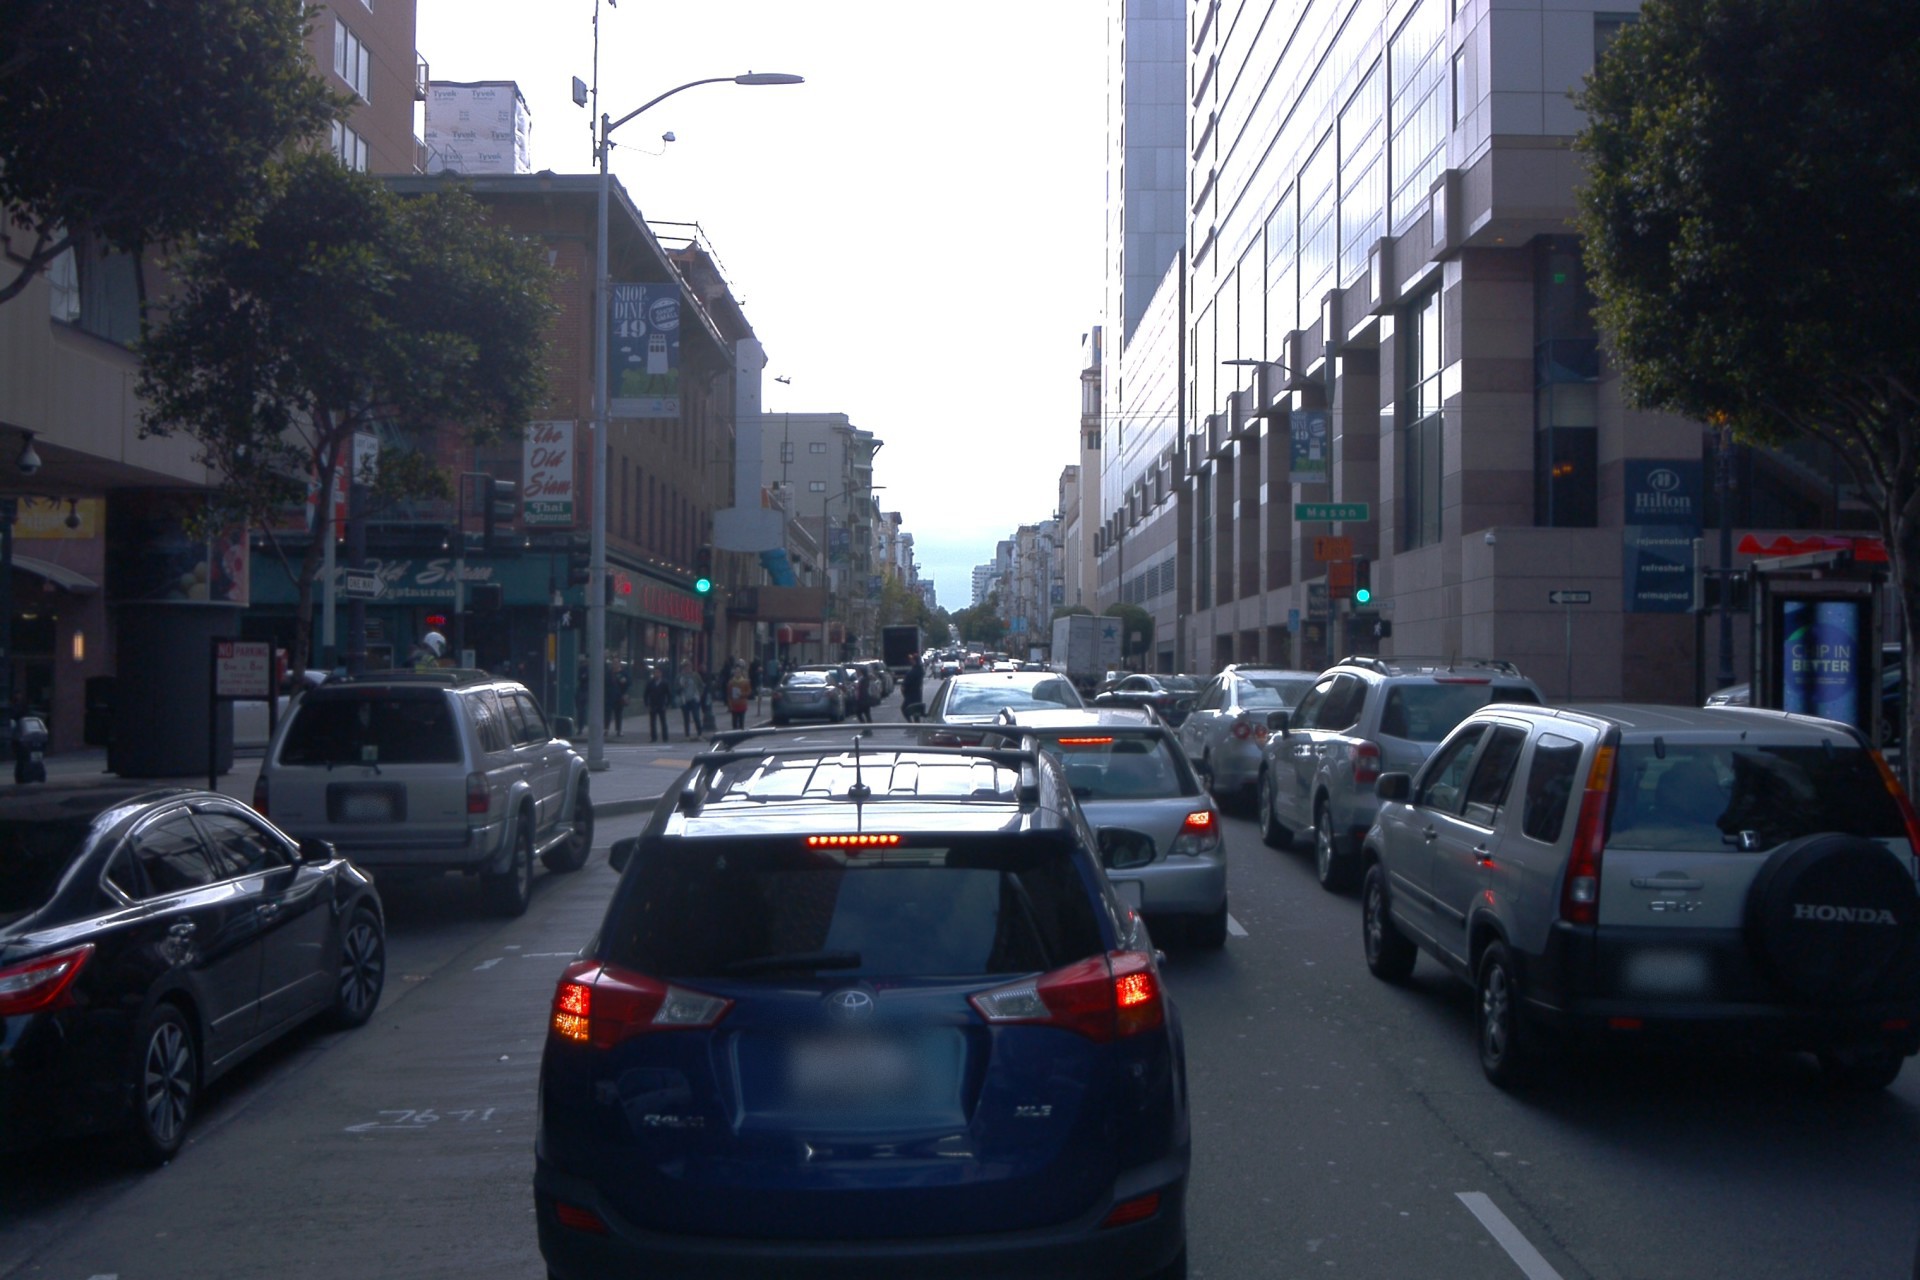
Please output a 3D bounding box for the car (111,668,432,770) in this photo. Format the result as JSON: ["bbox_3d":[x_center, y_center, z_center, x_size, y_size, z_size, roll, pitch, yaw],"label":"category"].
[{"bbox_3d":[-11.578,1.308,34.798,4.779,1.620,1.945,0,1,2],"label":"car"}]

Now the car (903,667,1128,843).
[{"bbox_3d":[0.458,1.088,21.256,2.074,1.500,4.589,0,1,-1],"label":"car"}]

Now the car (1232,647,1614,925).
[{"bbox_3d":[3.551,1.029,16.728,2.029,1.870,4.665,0,1,0],"label":"car"}]

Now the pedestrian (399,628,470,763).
[{"bbox_3d":[-7.423,0.771,29.053,0.708,1.880,0.658,0,1,29],"label":"pedestrian"}]

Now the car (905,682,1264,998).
[{"bbox_3d":[0.755,1.179,13.994,2.030,1.630,4.708,0,1,1],"label":"car"}]

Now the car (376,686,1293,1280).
[{"bbox_3d":[-0.294,1.158,7.187,2.184,1.830,4.555,0,1,0],"label":"car"}]

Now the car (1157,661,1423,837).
[{"bbox_3d":[3.433,1.084,22.361,2.063,1.590,4.797,0,1,-1],"label":"car"}]

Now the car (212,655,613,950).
[{"bbox_3d":[-4.073,1.111,16.168,1.995,1.880,4.690,0,1,-1],"label":"car"}]
